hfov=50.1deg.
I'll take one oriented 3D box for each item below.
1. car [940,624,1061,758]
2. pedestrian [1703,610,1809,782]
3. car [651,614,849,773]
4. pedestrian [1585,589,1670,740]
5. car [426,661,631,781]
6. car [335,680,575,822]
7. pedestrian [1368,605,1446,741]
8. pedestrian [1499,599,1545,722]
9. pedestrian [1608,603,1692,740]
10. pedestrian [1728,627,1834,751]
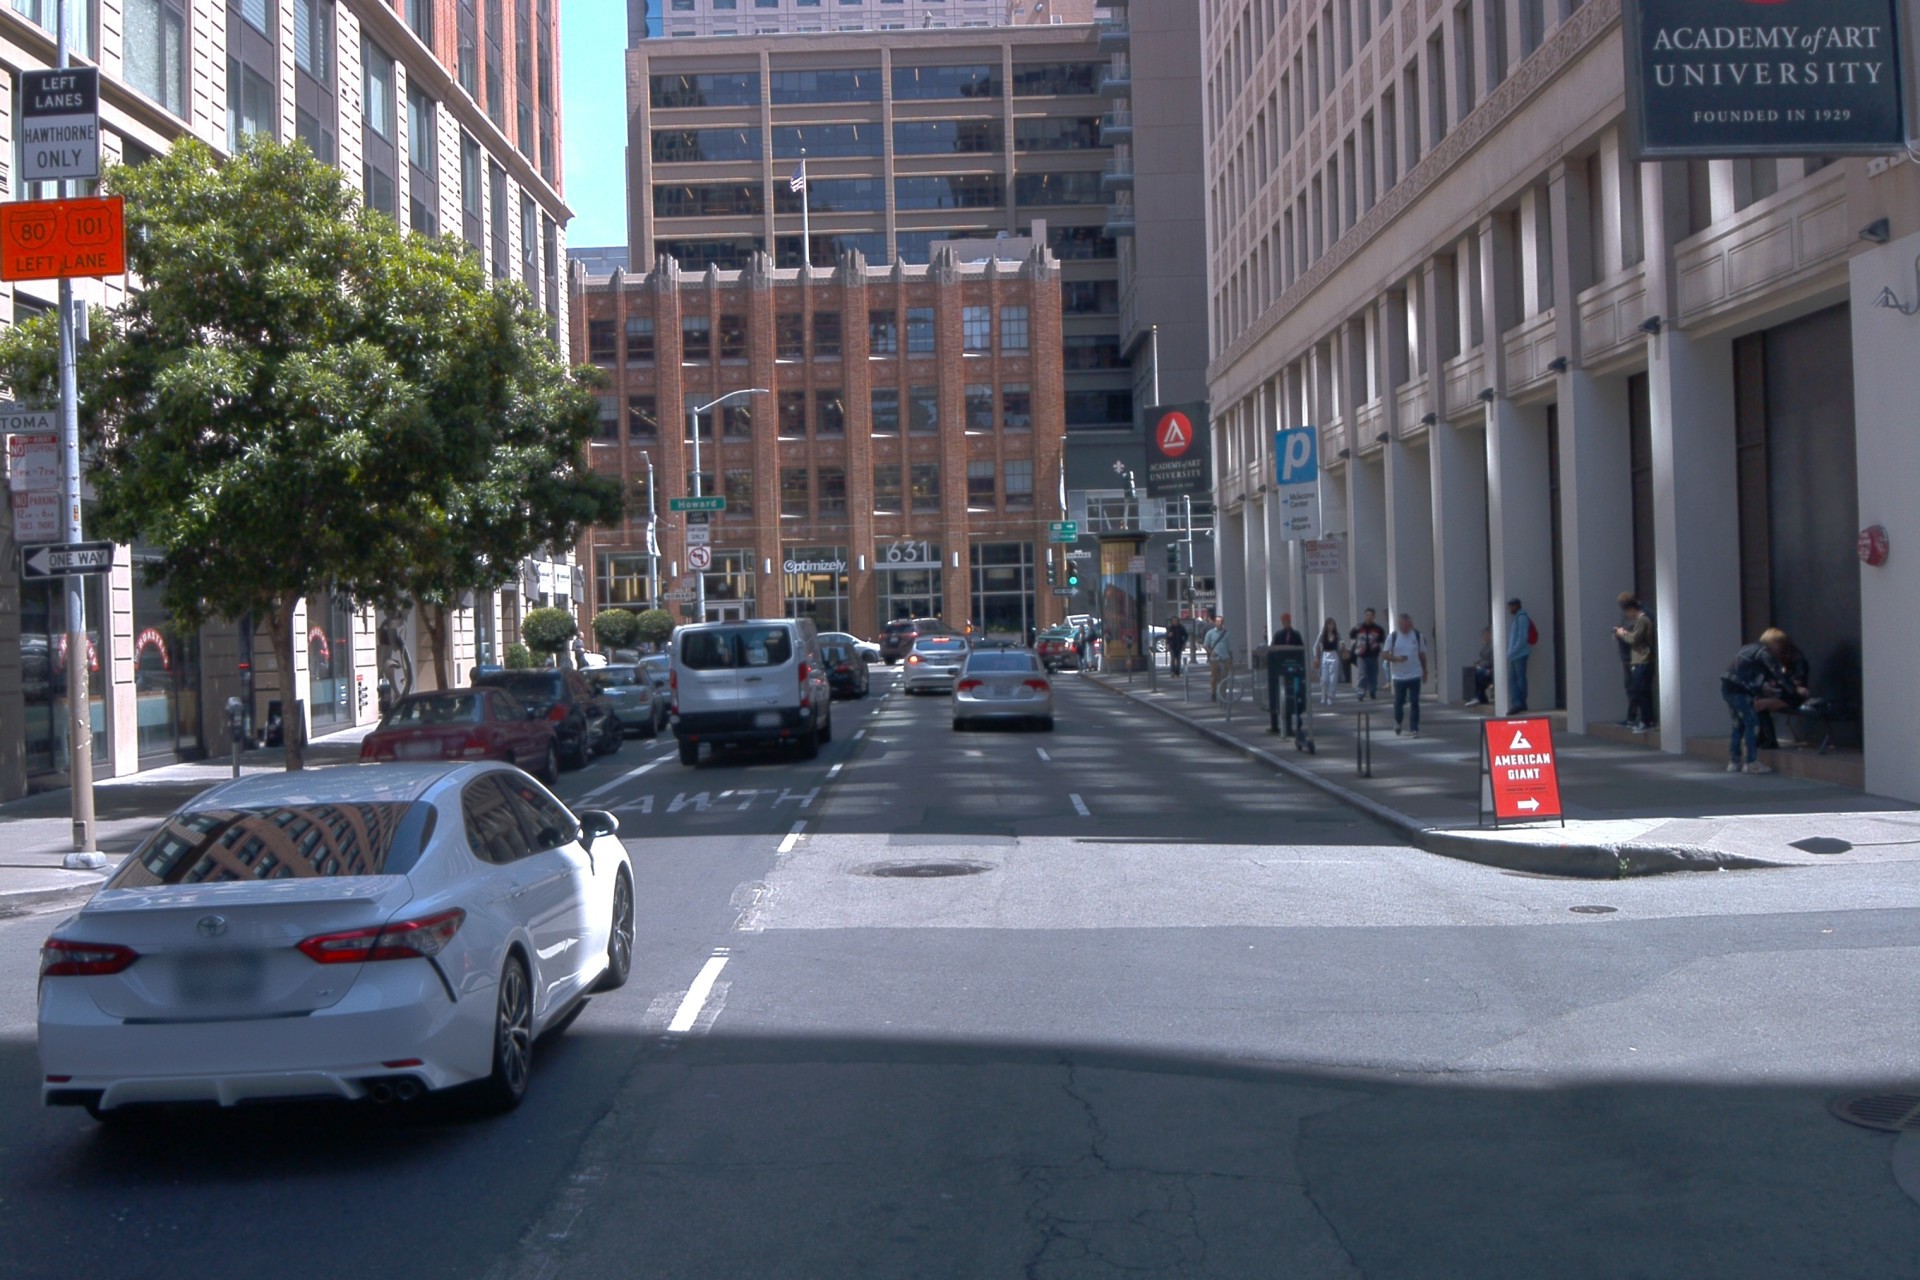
[{"bbox_3d":[0.721,0.830,36.374,2.012,2.200,4.315,0,1,1],"label":"car"},{"bbox_3d":[8.621,0.593,22.291,0.857,1.838,0.671,0,1,-4],"label":"pedestrian"},{"bbox_3d":[-3.063,0.700,31.377,2.374,2.200,5.787,0,1,1],"label":"car"},{"bbox_3d":[8.774,0.315,27.039,0.852,1.953,0.770,0,1,-1],"label":"pedestrian"},{"bbox_3d":[-6.531,1.174,31.715,2.117,1.570,5.217,0,1,-1],"label":"car"},{"bbox_3d":[-6.240,1.325,25.933,1.891,1.500,4.429,0,1,1],"label":"car"},{"bbox_3d":[6.490,0.460,29.901,0.872,1.936,1.191,0,1,1],"label":"pedestrian"},{"bbox_3d":[8.808,0.313,32.211,0.553,1.903,0.538,0,1,-1],"label":"pedestrian"},{"bbox_3d":[8.871,0.396,26.436,0.831,1.744,0.697,0,1,-1],"label":"pedestrian"},{"bbox_3d":[8.981,0.524,22.509,0.837,1.328,0.743,0,1,-1],"label":"pedestrian"}]
